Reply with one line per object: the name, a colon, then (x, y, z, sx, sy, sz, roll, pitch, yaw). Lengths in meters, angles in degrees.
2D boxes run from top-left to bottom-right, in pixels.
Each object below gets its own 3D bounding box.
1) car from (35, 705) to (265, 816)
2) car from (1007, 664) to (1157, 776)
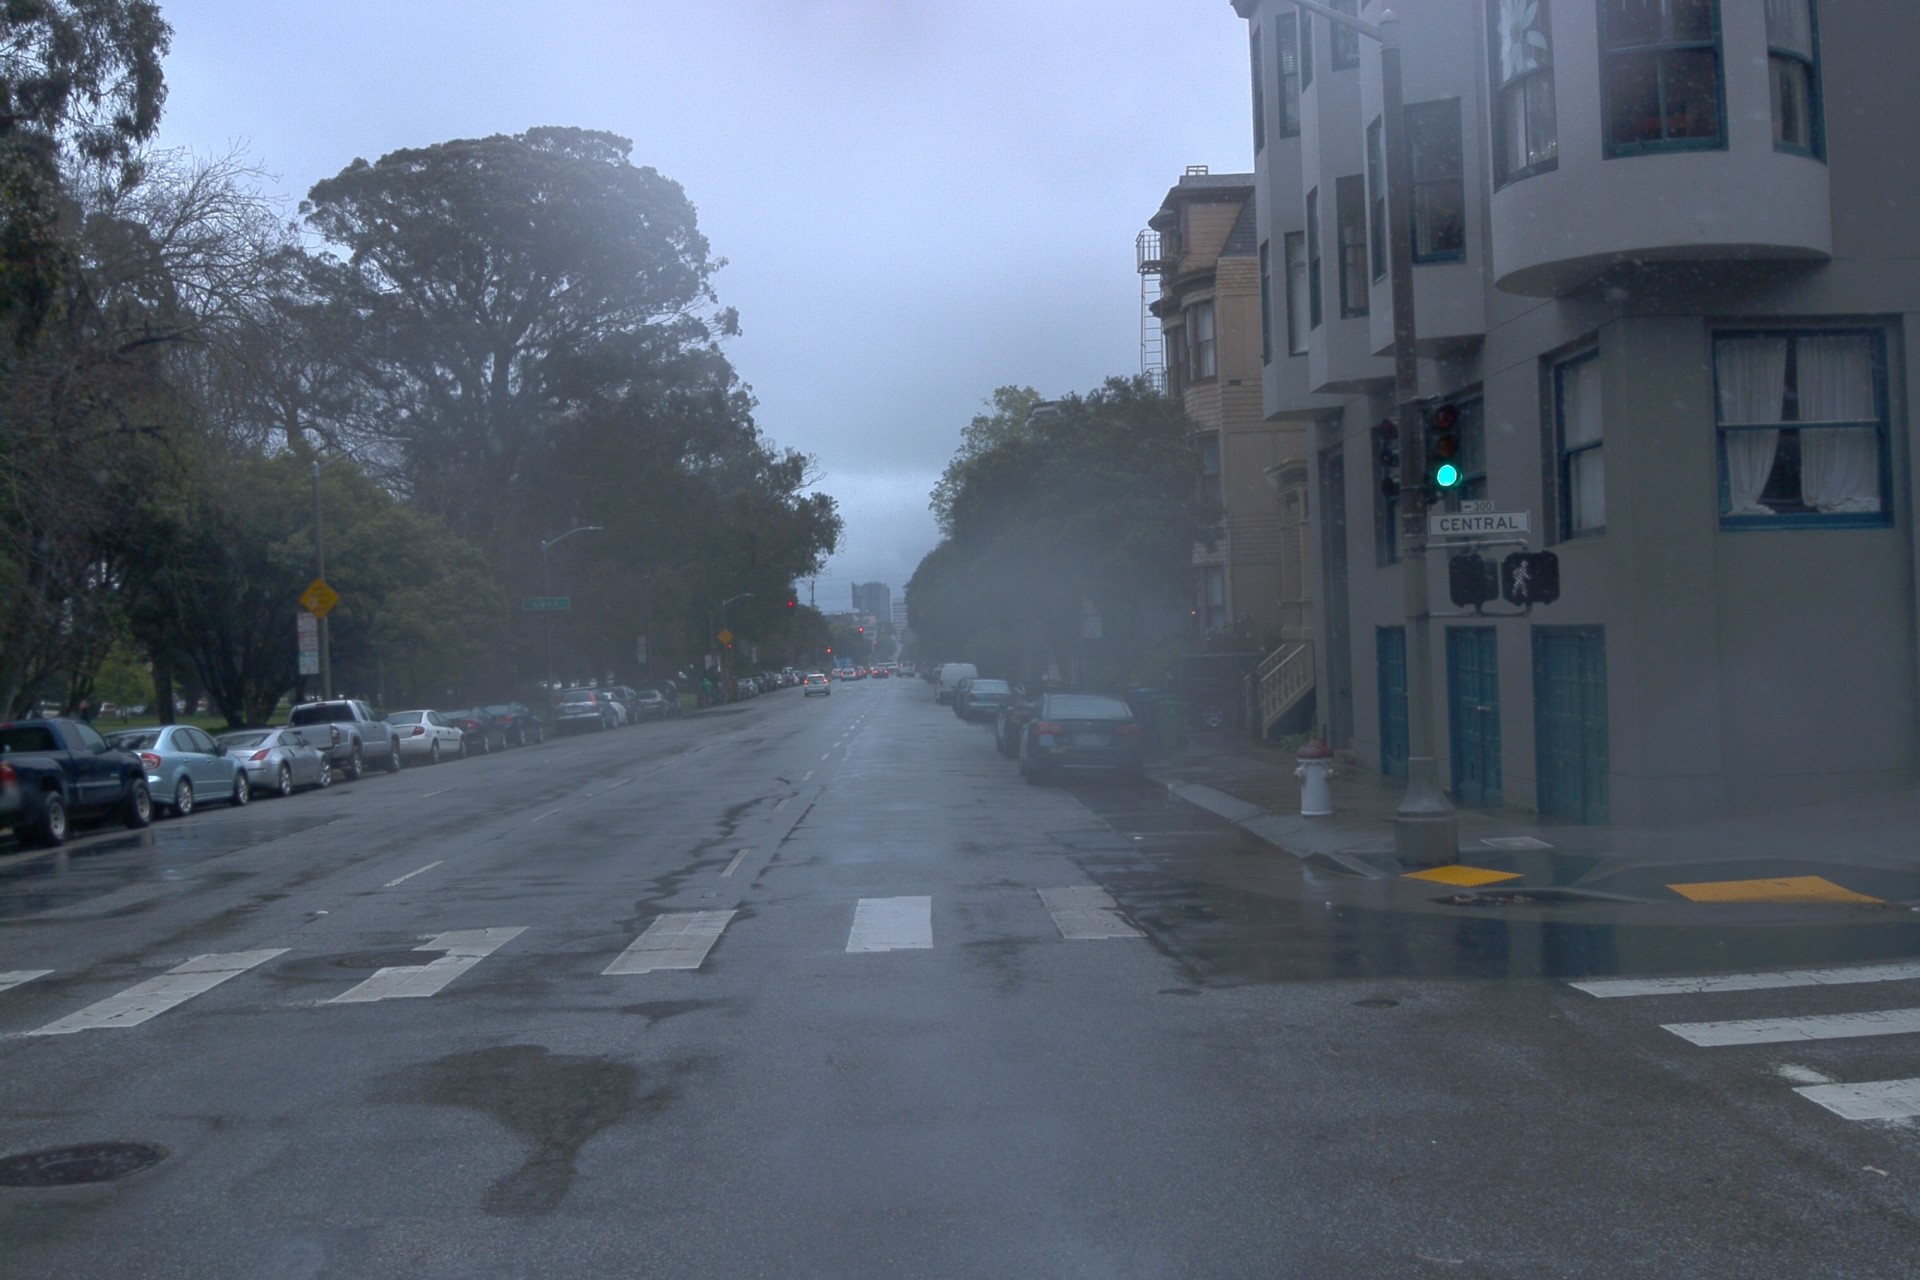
car: (-13.427, 1.956, 34.288, 2.030, 1.550, 4.381, 1, 0, 1)
car: (1.913, 1.244, 33.463, 2.087, 1.620, 4.489, 1, 0, -1)
